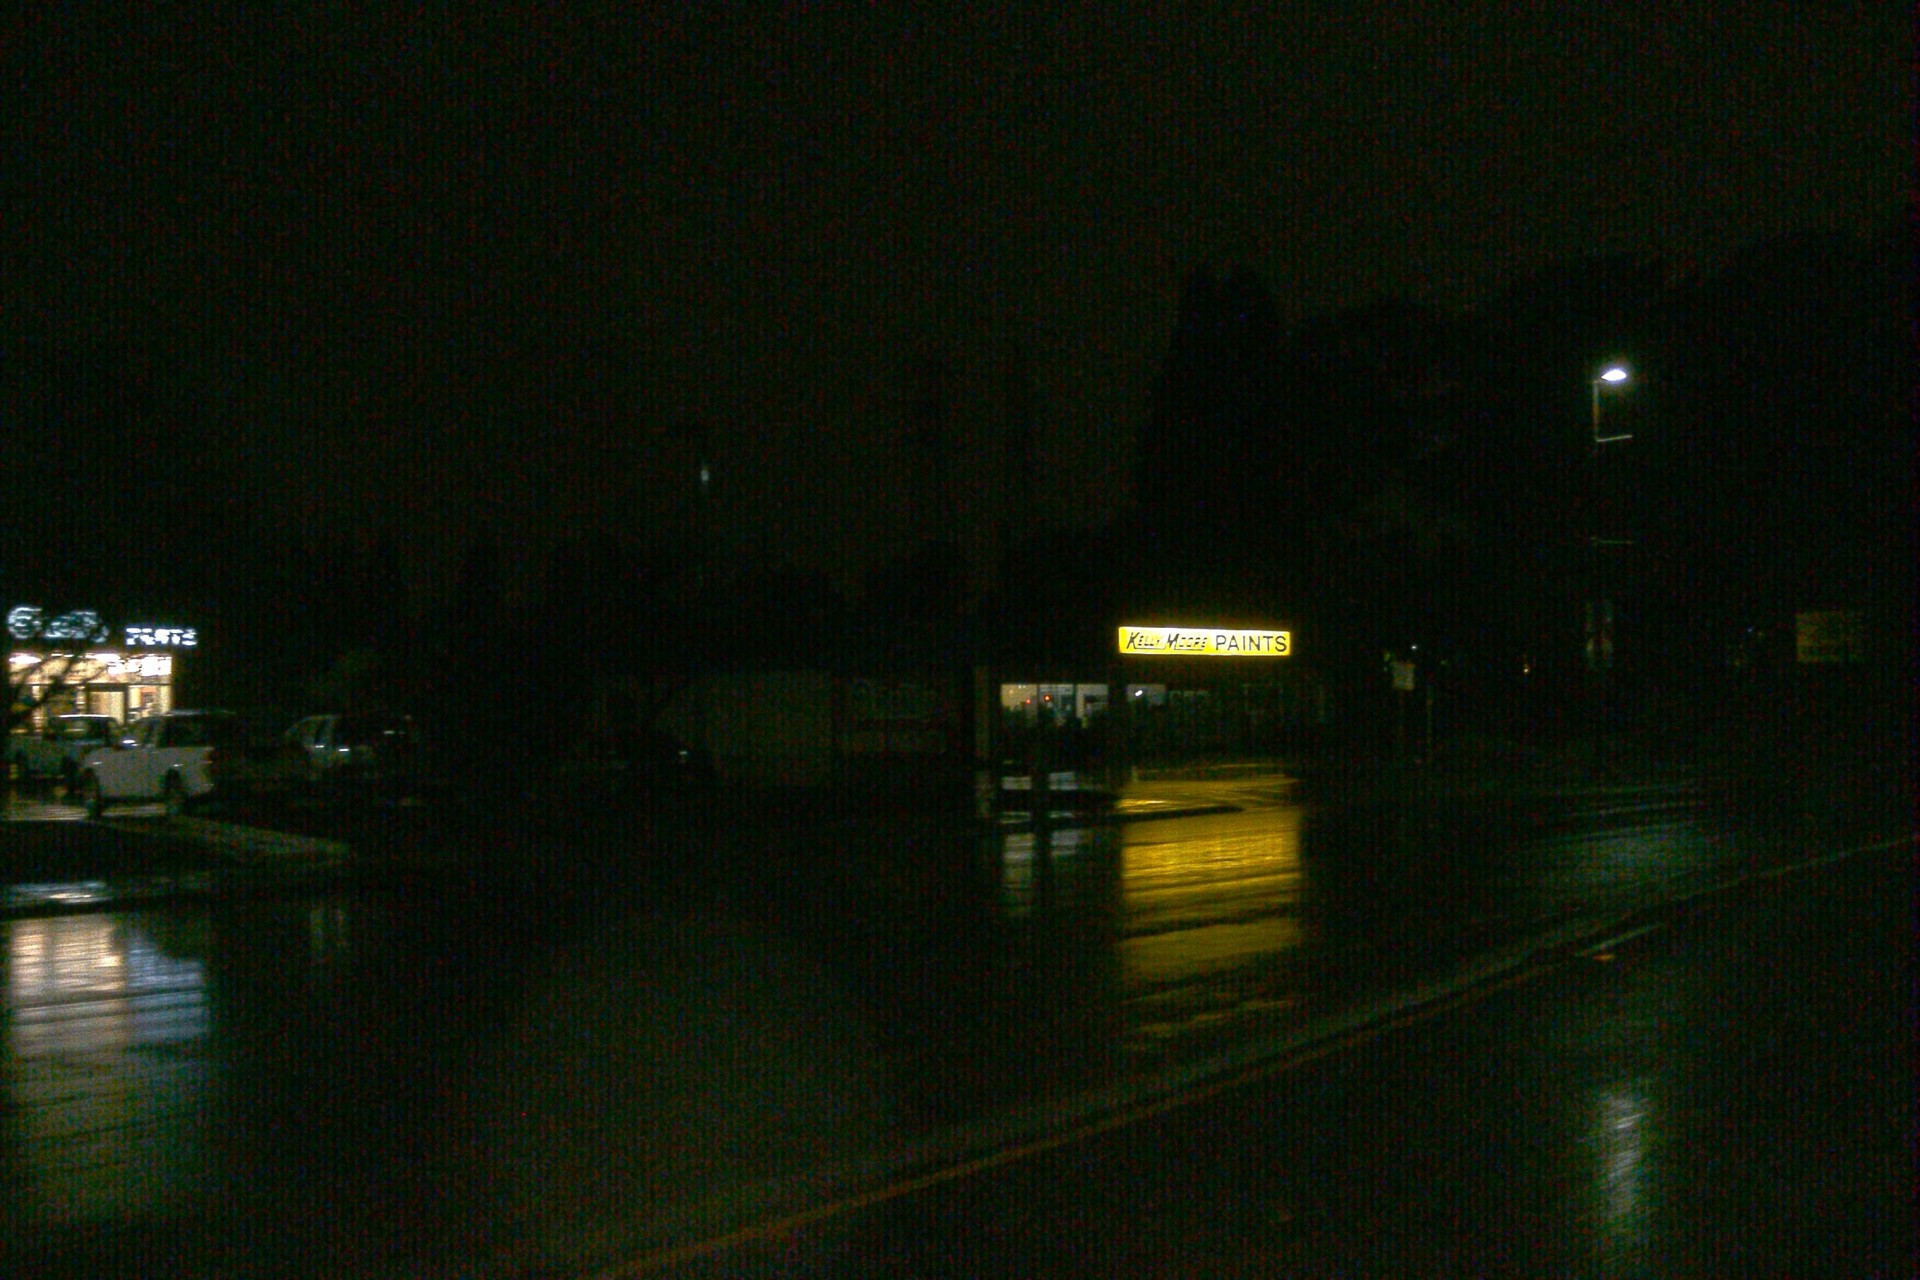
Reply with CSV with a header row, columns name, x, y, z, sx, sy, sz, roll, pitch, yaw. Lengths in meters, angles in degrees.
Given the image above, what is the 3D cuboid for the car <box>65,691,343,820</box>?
name,x,y,z,sx,sy,sz,roll,pitch,yaw
car,-12.597,1.836,34.651,5.222,1.850,2.270,0,0,44

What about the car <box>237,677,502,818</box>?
name,x,y,z,sx,sy,sz,roll,pitch,yaw
car,-10.439,1.800,36.720,2.184,2.200,5.372,1,0,-44
